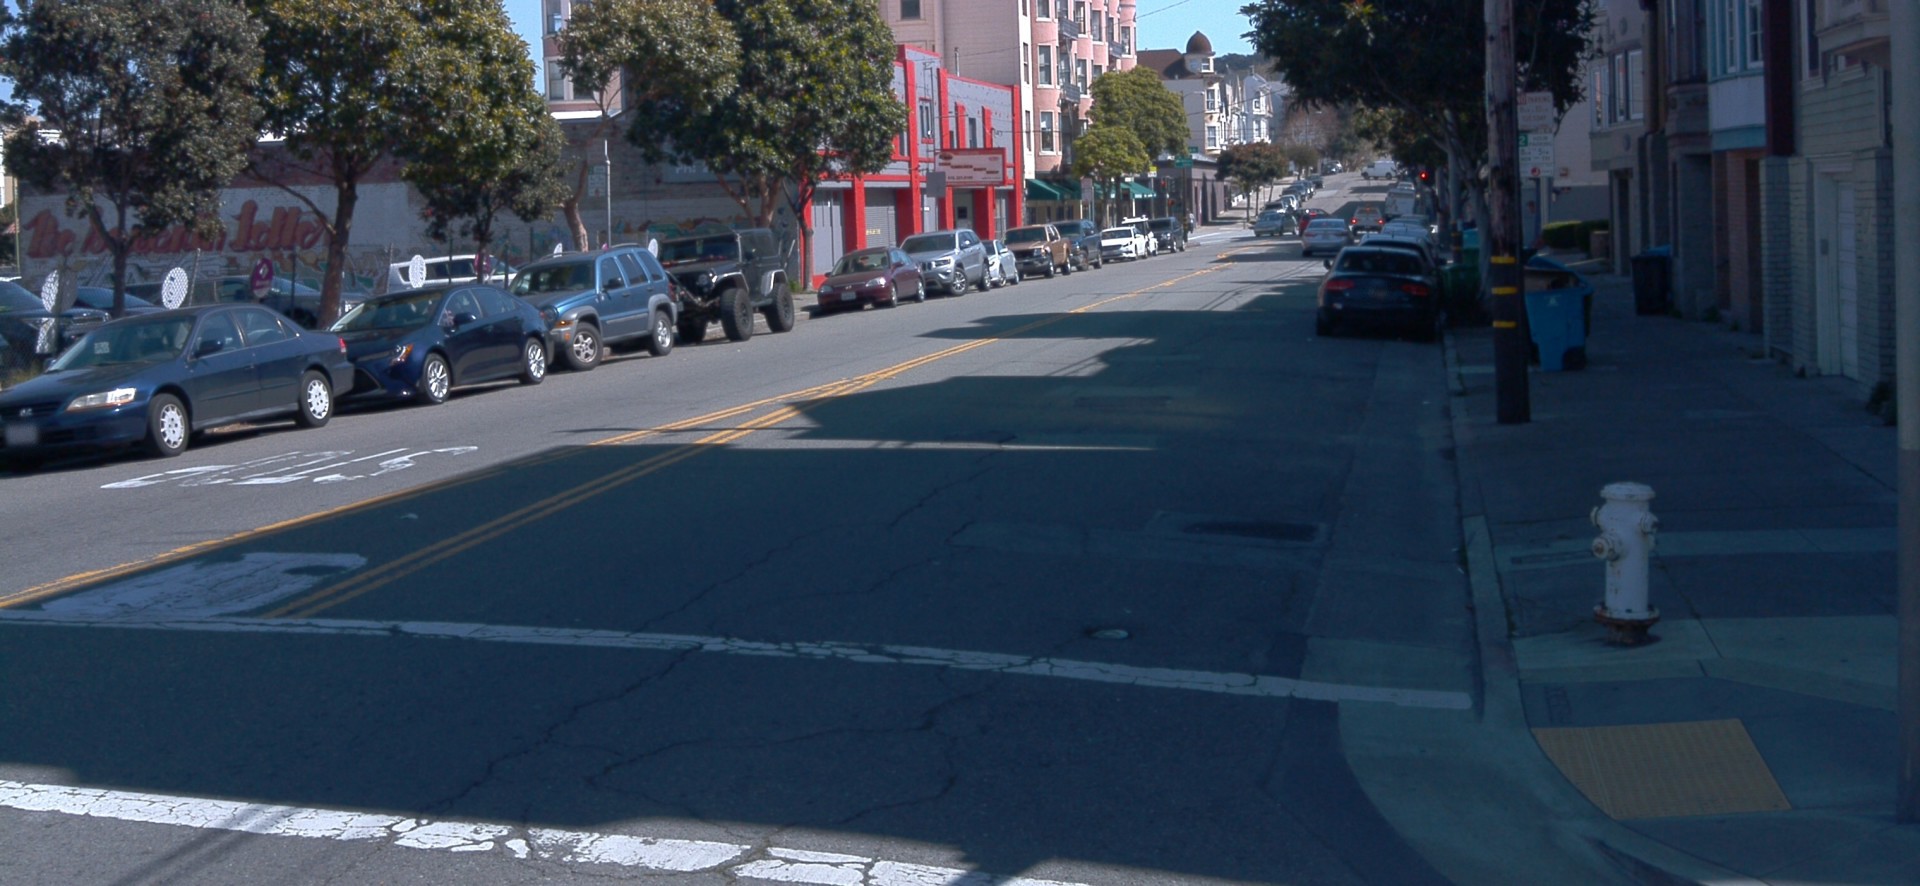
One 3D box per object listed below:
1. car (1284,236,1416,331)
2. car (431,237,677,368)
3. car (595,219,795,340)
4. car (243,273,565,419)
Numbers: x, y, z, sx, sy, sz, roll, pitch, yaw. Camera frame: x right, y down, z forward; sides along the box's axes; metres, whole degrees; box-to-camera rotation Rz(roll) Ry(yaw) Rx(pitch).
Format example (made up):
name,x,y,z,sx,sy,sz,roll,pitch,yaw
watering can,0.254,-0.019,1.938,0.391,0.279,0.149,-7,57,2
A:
name,x,y,z,sx,sy,sz,roll,pitch,yaw
car,6.351,-2.625,33.272,1.932,1.414,4.479,1,5,13
car,-6.046,-2.200,31.279,2.011,1.834,4.244,1,5,15
car,-4.598,-2.937,36.485,2.078,2.004,4.403,1,5,14
car,-6.814,-1.304,25.894,1.947,1.584,4.589,1,5,14
